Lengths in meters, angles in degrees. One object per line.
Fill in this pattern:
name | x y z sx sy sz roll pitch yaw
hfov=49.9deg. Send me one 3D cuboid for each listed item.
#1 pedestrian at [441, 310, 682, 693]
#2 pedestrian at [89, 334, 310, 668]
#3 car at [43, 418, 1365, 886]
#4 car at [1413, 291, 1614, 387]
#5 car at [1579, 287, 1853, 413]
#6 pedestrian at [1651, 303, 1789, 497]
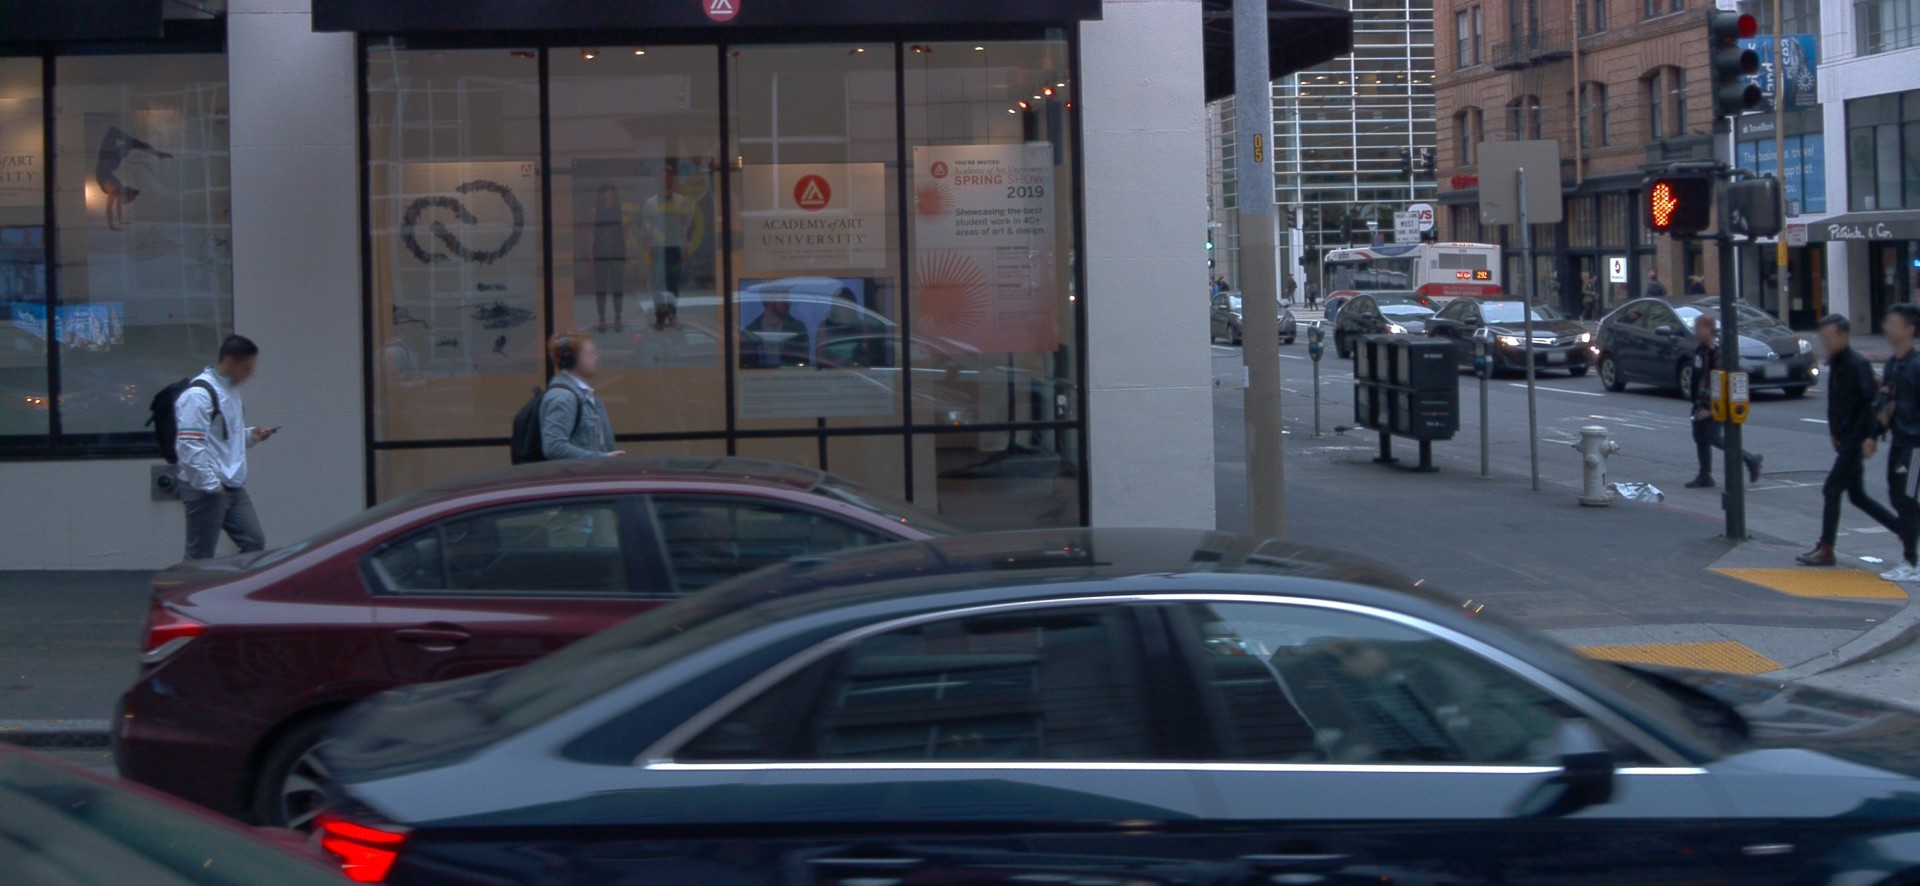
pedestrian | -2.065 0.268 10.818 1.166 1.877 0.760 -1 2 -6
pedestrian | -4.215 0.293 11.488 0.964 1.747 0.716 0 2 -3
car | -0.893 0.779 8.078 4.487 1.474 2.049 -1 5 -5
car | 10.092 -1.970 37.997 2.075 1.442 4.654 -1 6 -6
car | 11.111 -1.458 30.687 2.064 1.531 4.507 -1 6 -6
pedestrian | 7.224 -0.439 19.652 1.158 1.747 0.854 0 2 15
